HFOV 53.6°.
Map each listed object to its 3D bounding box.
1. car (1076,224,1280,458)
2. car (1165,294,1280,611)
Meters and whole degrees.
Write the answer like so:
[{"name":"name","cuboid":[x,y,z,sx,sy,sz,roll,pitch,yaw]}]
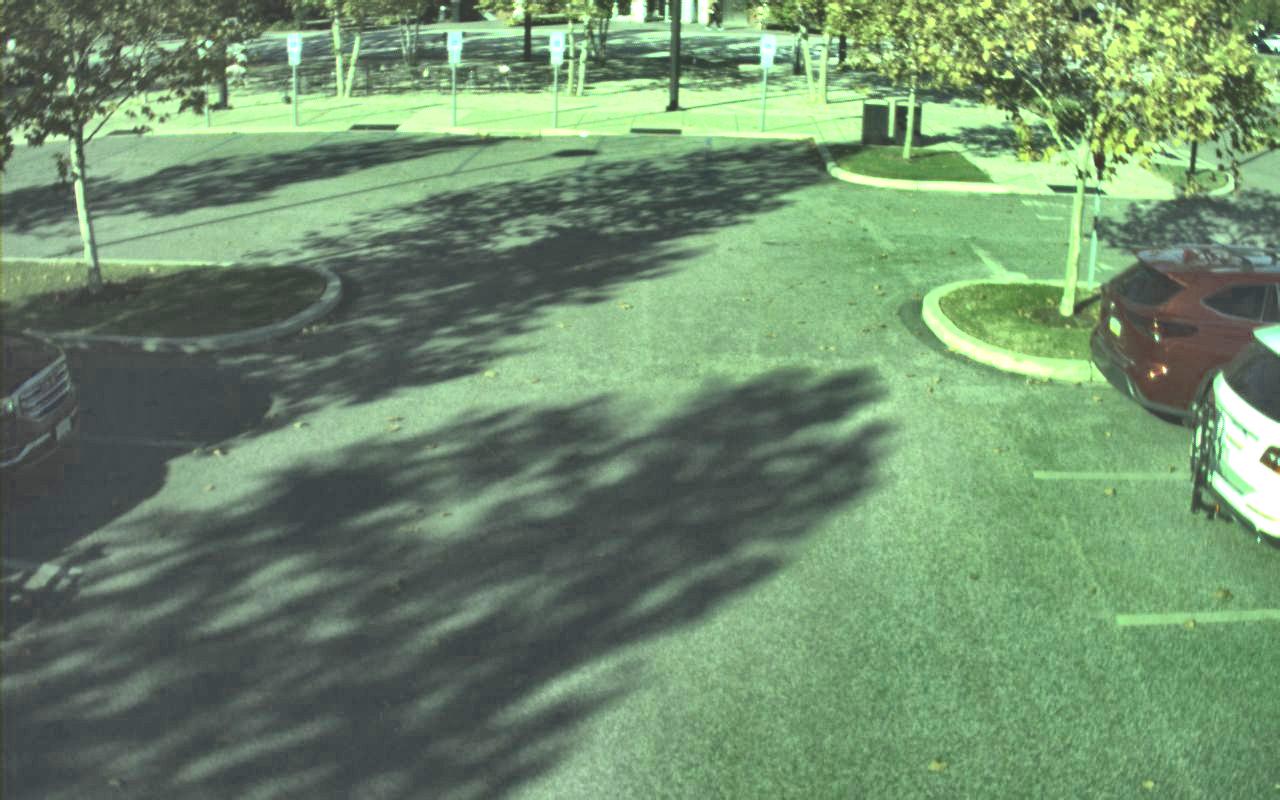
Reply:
[{"name":"car","cuboid":[6.628,-0.614,11.130,4.397,1.776,1.981,0,16,3]},{"name":"car","cuboid":[6.605,0.303,8.500,4.523,1.812,2.010,-1,16,0]}]
